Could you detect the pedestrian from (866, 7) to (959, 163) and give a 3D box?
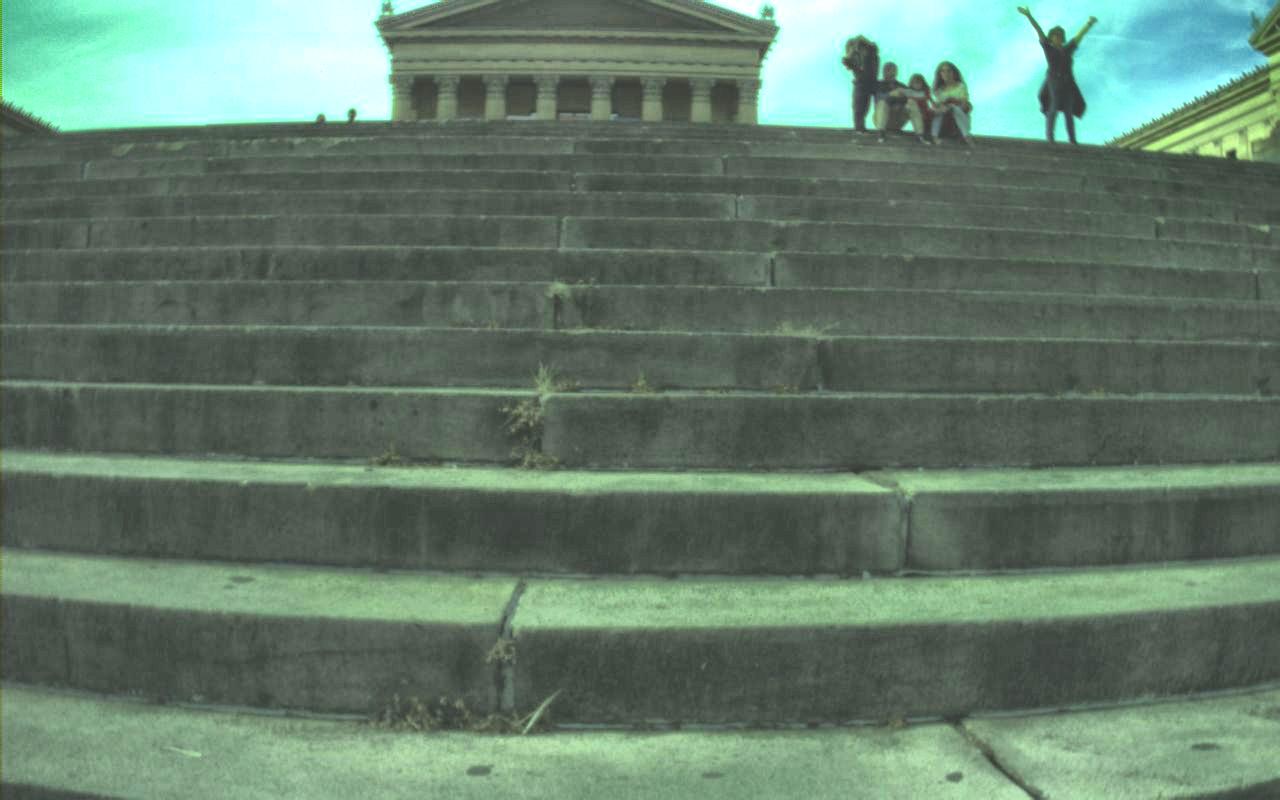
[{"bbox_3d":[3.108,-3.565,13.858,0.815,1.647,0.700,1,0,33],"label":"pedestrian"}]

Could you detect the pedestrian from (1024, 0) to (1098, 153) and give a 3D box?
[{"bbox_3d":[5.287,-4.064,14.833,0.719,1.878,0.710,0,0,5],"label":"pedestrian"}]

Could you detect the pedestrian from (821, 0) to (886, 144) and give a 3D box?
[{"bbox_3d":[2.449,-3.778,14.083,0.651,1.606,0.659,0,0,3],"label":"pedestrian"}]
